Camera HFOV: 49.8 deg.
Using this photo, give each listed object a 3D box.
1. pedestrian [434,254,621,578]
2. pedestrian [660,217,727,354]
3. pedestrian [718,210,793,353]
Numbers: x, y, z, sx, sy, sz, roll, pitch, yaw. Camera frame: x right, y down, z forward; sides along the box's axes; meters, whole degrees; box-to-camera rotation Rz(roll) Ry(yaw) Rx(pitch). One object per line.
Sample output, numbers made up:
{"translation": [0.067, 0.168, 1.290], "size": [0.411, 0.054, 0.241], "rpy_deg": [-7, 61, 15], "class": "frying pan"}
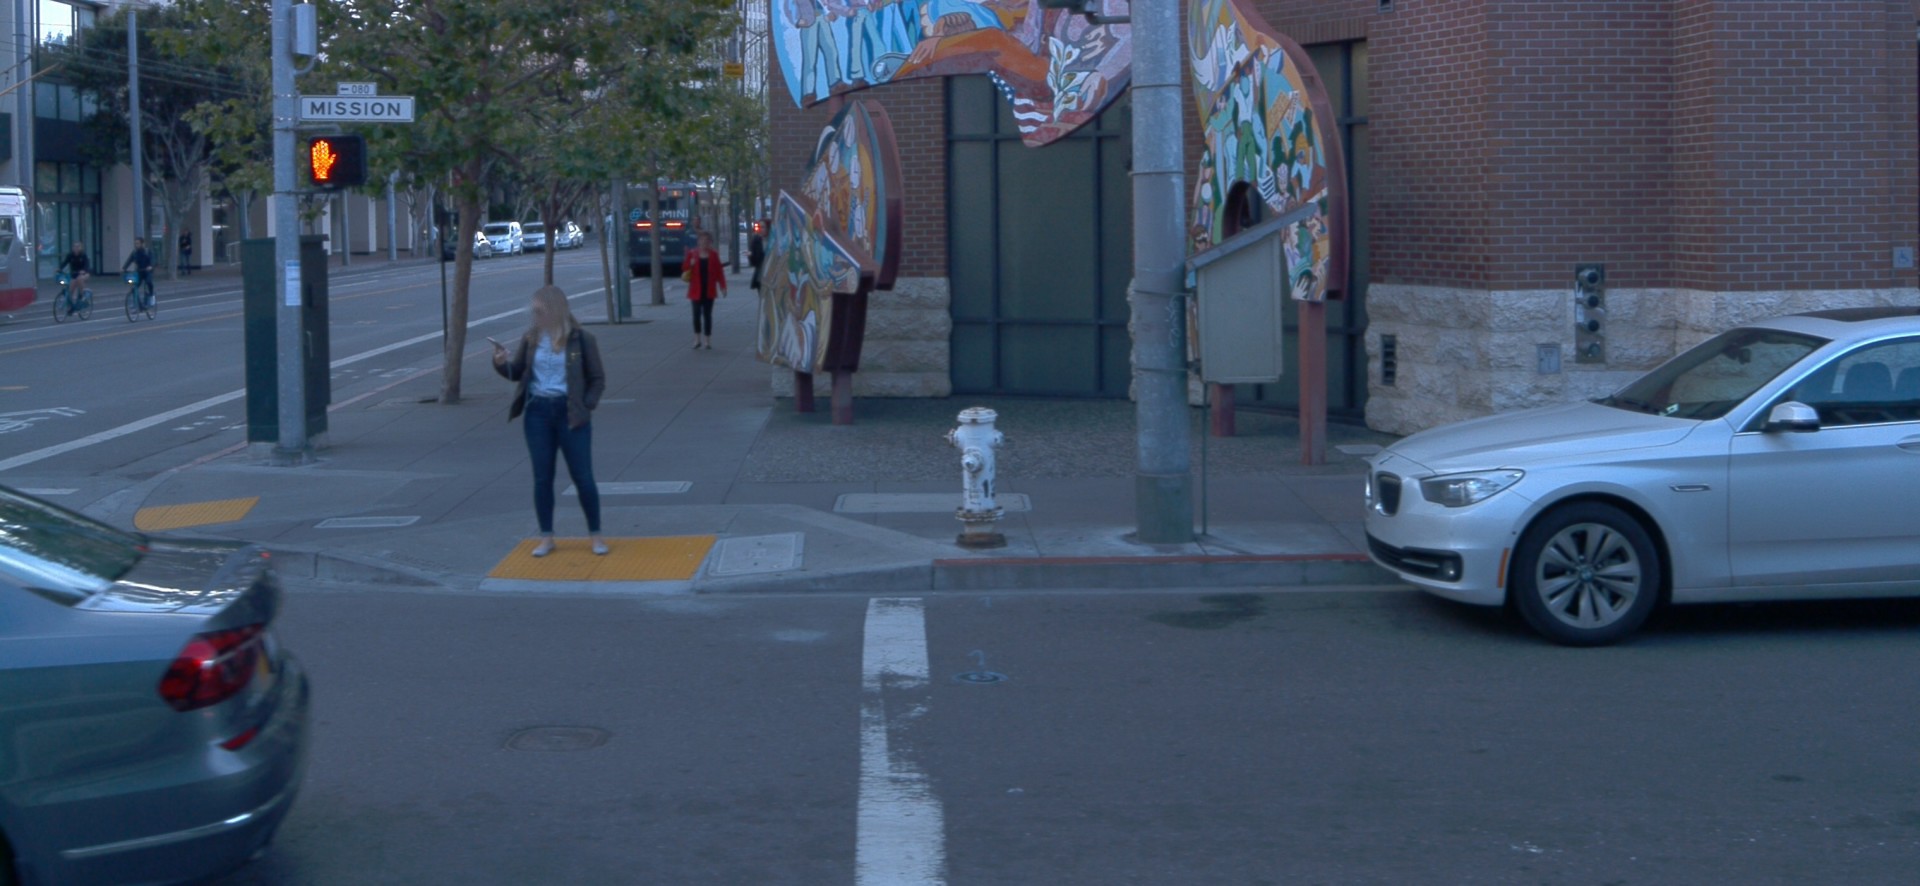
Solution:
{"translation": [-2.557, -0.195, 12.314], "size": [0.852, 1.833, 0.909], "rpy_deg": [0, 2, 4], "class": "pedestrian"}
{"translation": [-3.581, -2.138, 27.838], "size": [0.818, 1.796, 1.047], "rpy_deg": [-1, 3, -4], "class": "pedestrian"}
{"translation": [-2.765, -2.211, 28.037], "size": [0.939, 1.896, 1.002], "rpy_deg": [-1, 2, -3], "class": "pedestrian"}
